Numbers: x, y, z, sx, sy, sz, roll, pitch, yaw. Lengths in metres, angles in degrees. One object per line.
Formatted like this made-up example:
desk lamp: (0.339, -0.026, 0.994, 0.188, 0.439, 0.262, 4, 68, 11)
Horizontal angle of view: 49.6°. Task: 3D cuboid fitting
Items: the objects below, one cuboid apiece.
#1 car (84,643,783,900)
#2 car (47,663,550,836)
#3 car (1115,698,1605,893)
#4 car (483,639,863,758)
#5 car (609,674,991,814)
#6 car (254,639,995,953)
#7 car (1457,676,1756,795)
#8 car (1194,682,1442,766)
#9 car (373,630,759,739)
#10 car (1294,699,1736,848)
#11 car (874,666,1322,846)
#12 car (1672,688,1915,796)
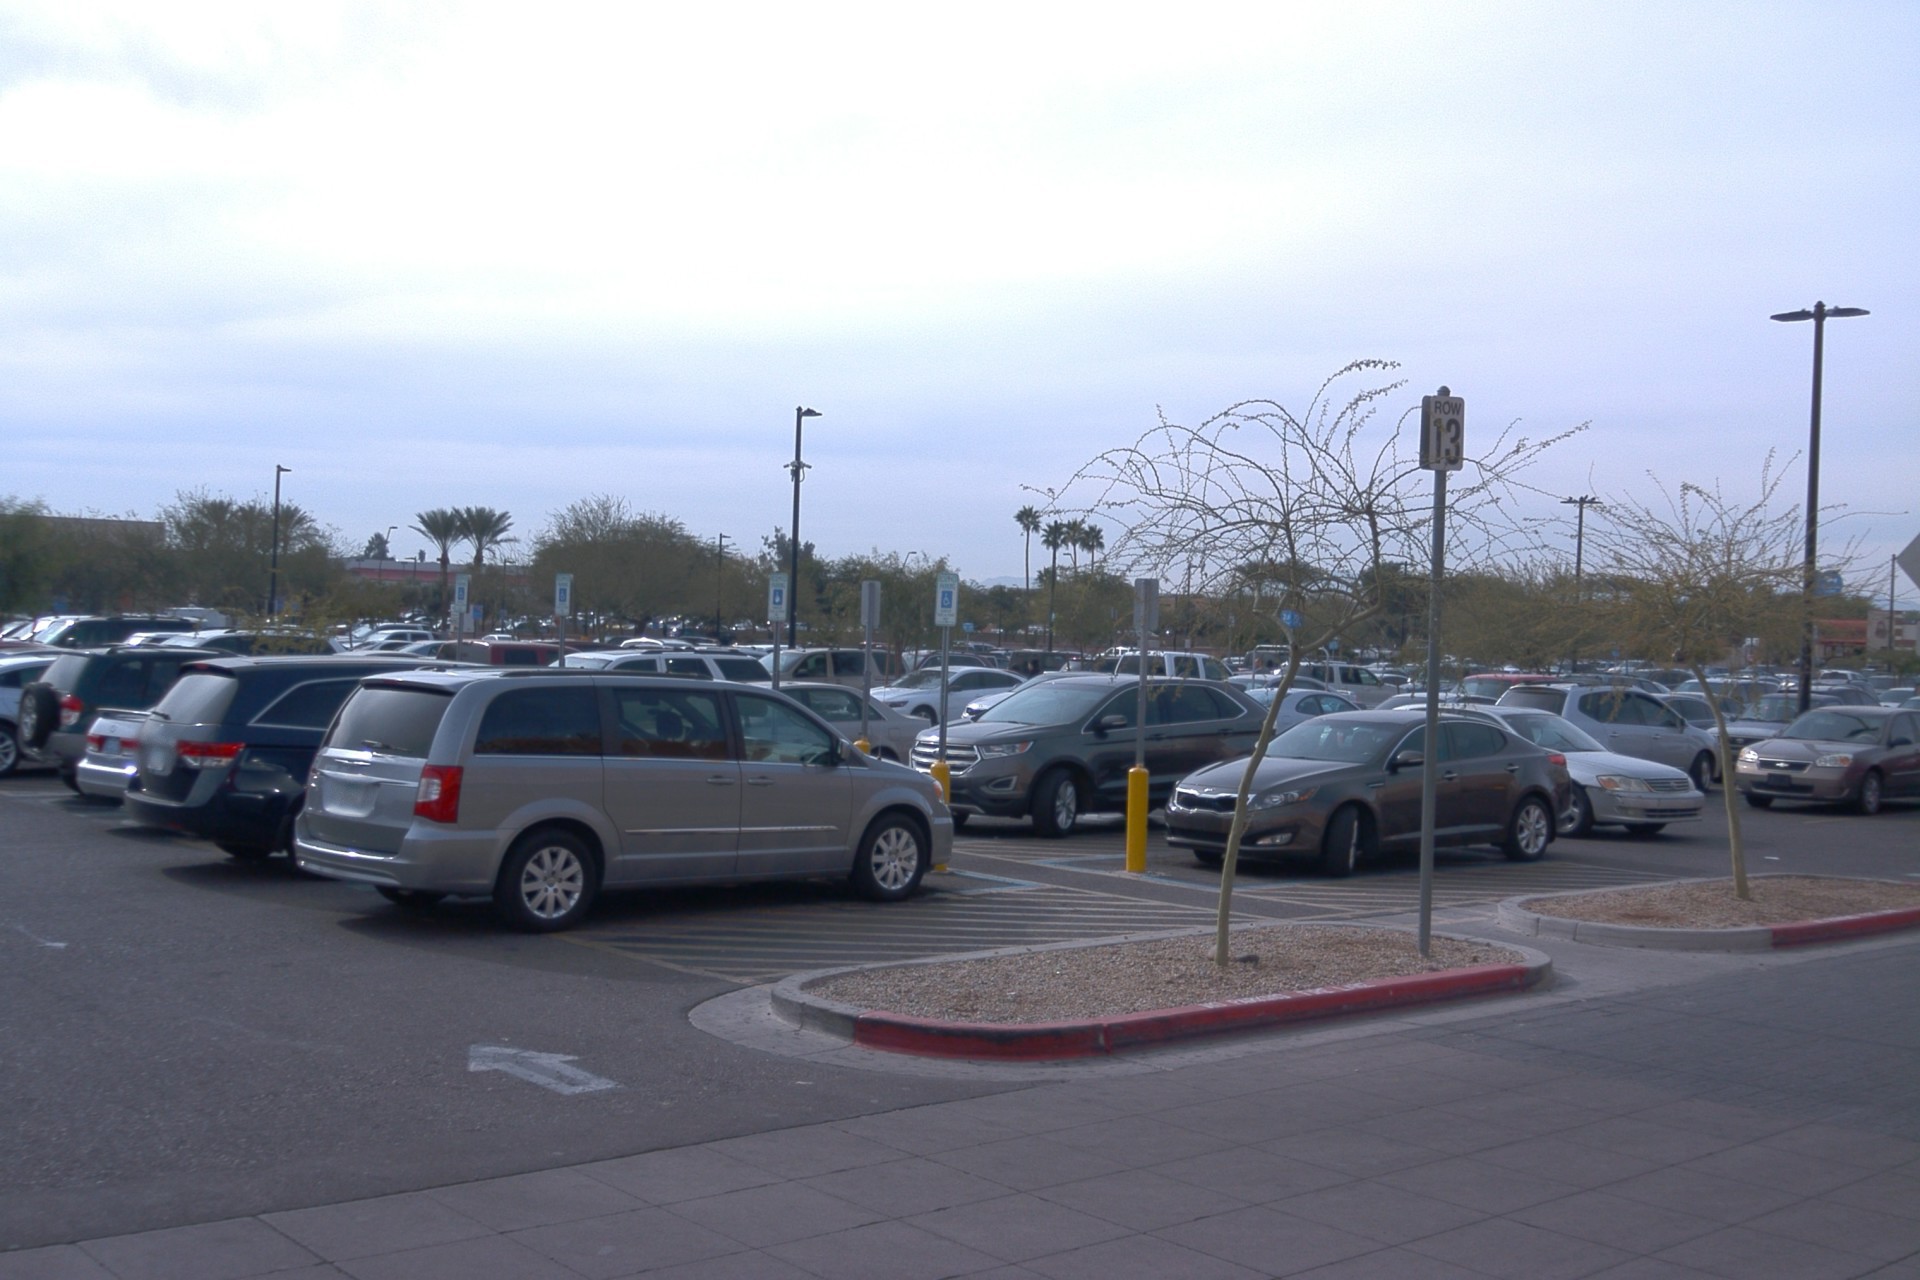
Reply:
car: (-4.326, 1.018, 17.728, 5.324, 1.850, 2.261, 2, -1, -43)
car: (-6.407, 1.018, 20.406, 4.279, 1.500, 1.896, 2, -1, -43)
car: (3.968, 1.402, 20.115, 4.784, 1.610, 2.143, 2, -1, -41)
car: (-3.802, 0.777, 28.040, 4.748, 1.460, 2.027, 2, -1, -43)
car: (-1.914, 1.241, 25.852, 2.059, 1.550, 4.458, 0, -1, 45)
car: (-2.299, 1.017, 15.361, 5.067, 1.930, 2.133, 2, -1, -44)
car: (9.978, 1.430, 31.872, 4.752, 1.660, 2.105, 2, -1, -40)
car: (6.286, 1.448, 36.185, 4.345, 1.340, 1.914, 2, -1, -41)
car: (-5.629, 0.643, 30.075, 5.056, 1.450, 2.220, 2, -1, -42)
car: (6.565, 1.524, 25.033, 2.015, 1.500, 4.863, 2, -1, -40)
car: (1.600, 1.203, 22.825, 4.789, 1.740, 2.142, 2, -1, -42)
car: (14.292, 1.697, 35.489, 4.419, 1.690, 2.034, 2, -1, -41)
